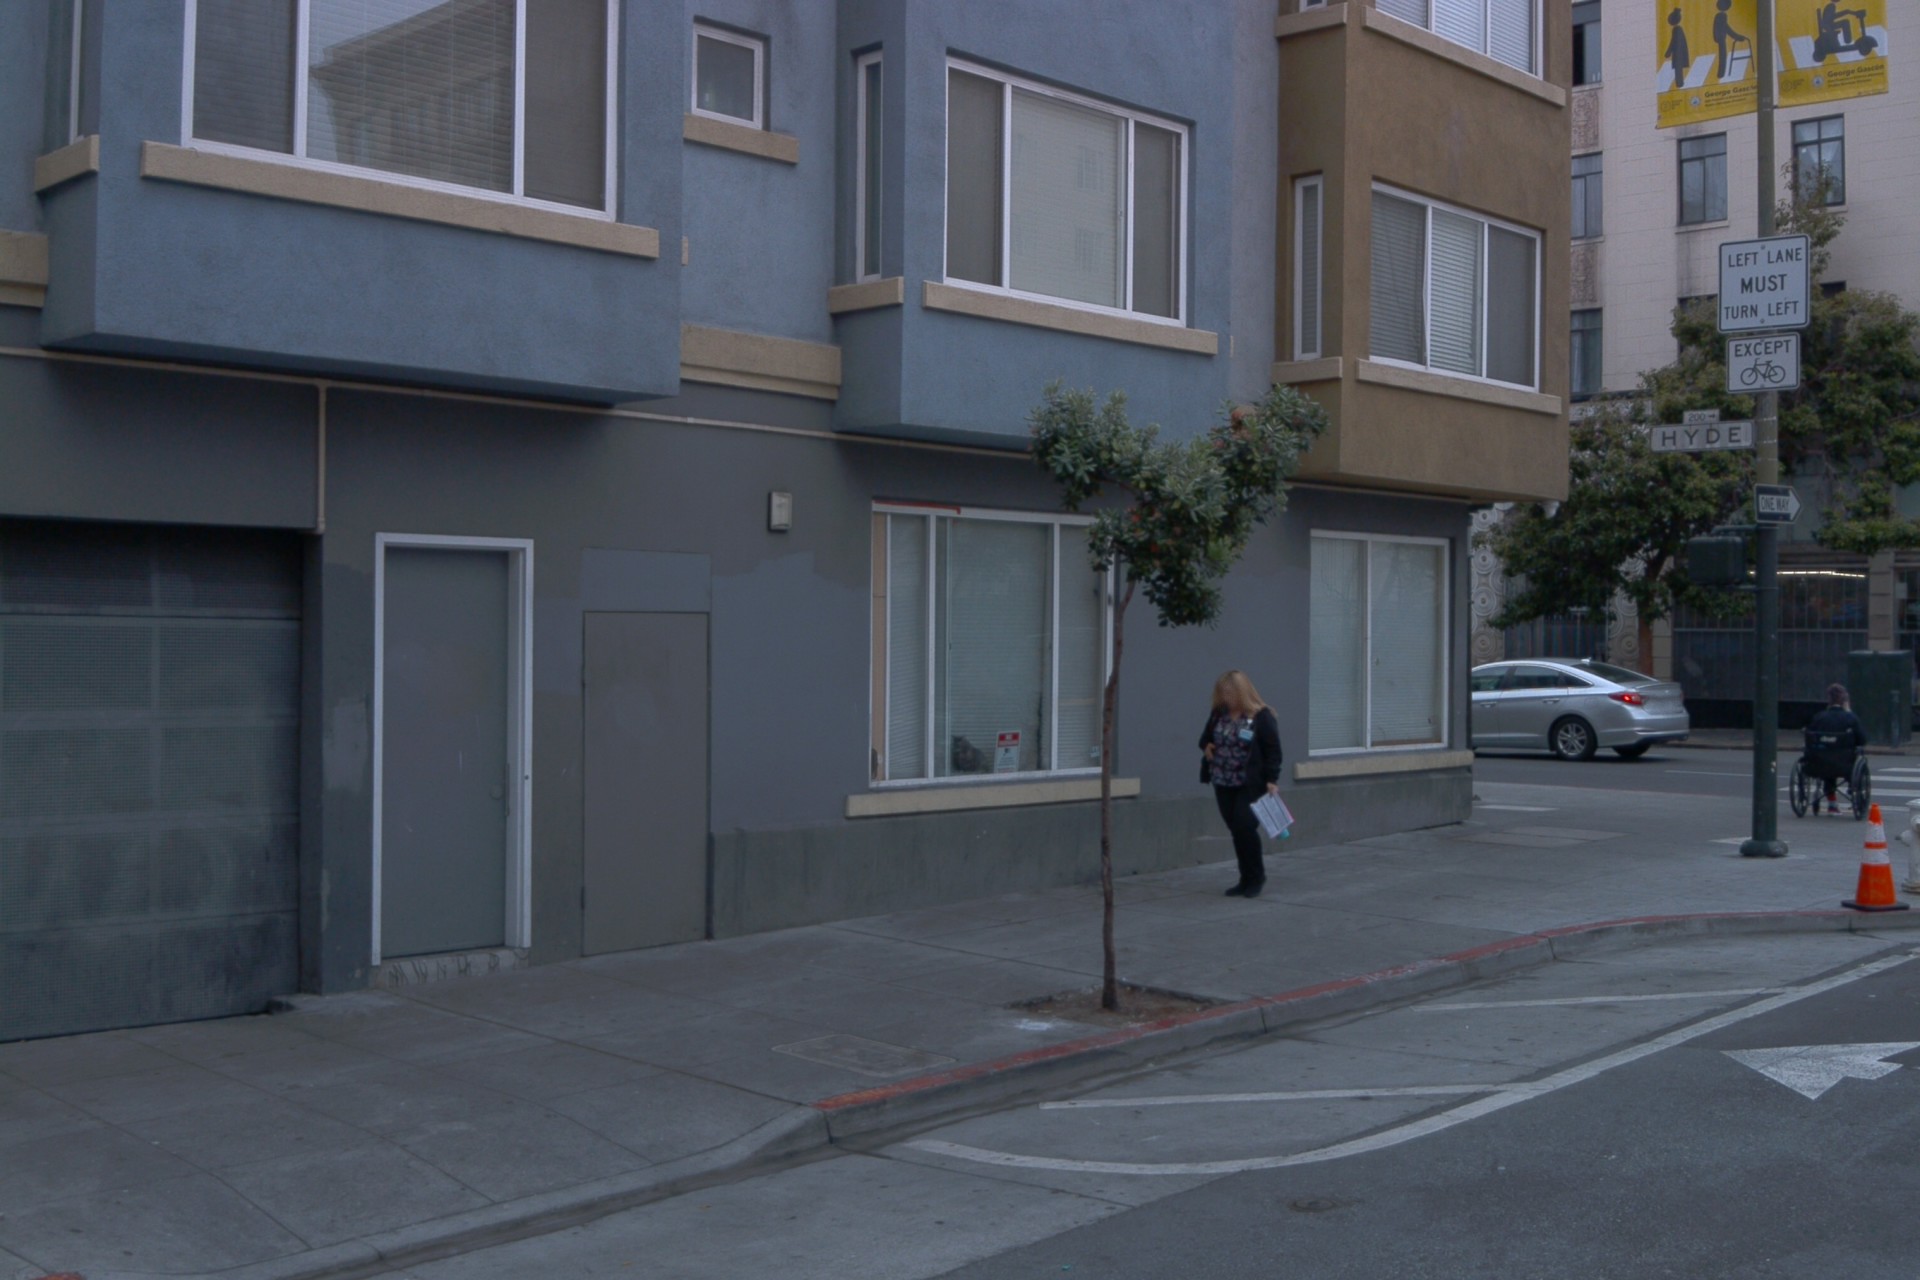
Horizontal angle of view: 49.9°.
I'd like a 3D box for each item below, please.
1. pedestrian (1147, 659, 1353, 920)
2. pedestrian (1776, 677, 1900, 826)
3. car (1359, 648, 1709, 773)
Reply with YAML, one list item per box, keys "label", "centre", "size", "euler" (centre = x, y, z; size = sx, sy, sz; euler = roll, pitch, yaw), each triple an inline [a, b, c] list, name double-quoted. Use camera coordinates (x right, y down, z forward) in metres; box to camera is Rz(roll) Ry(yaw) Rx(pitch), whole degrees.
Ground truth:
- label: "pedestrian"
  centre: [2.047, 1.012, 14.574]
  size: [1.033, 1.710, 1.012]
  euler: [-1, 1, -44]
- label: "pedestrian"
  centre: [8.631, 1.071, 20.288]
  size: [0.883, 1.370, 1.026]
  euler: [1, 1, 38]
- label: "car"
  centre: [8.348, 0.966, 30.315]
  size: [1.939, 1.600, 4.599]
  euler: [-1, 1, -44]
